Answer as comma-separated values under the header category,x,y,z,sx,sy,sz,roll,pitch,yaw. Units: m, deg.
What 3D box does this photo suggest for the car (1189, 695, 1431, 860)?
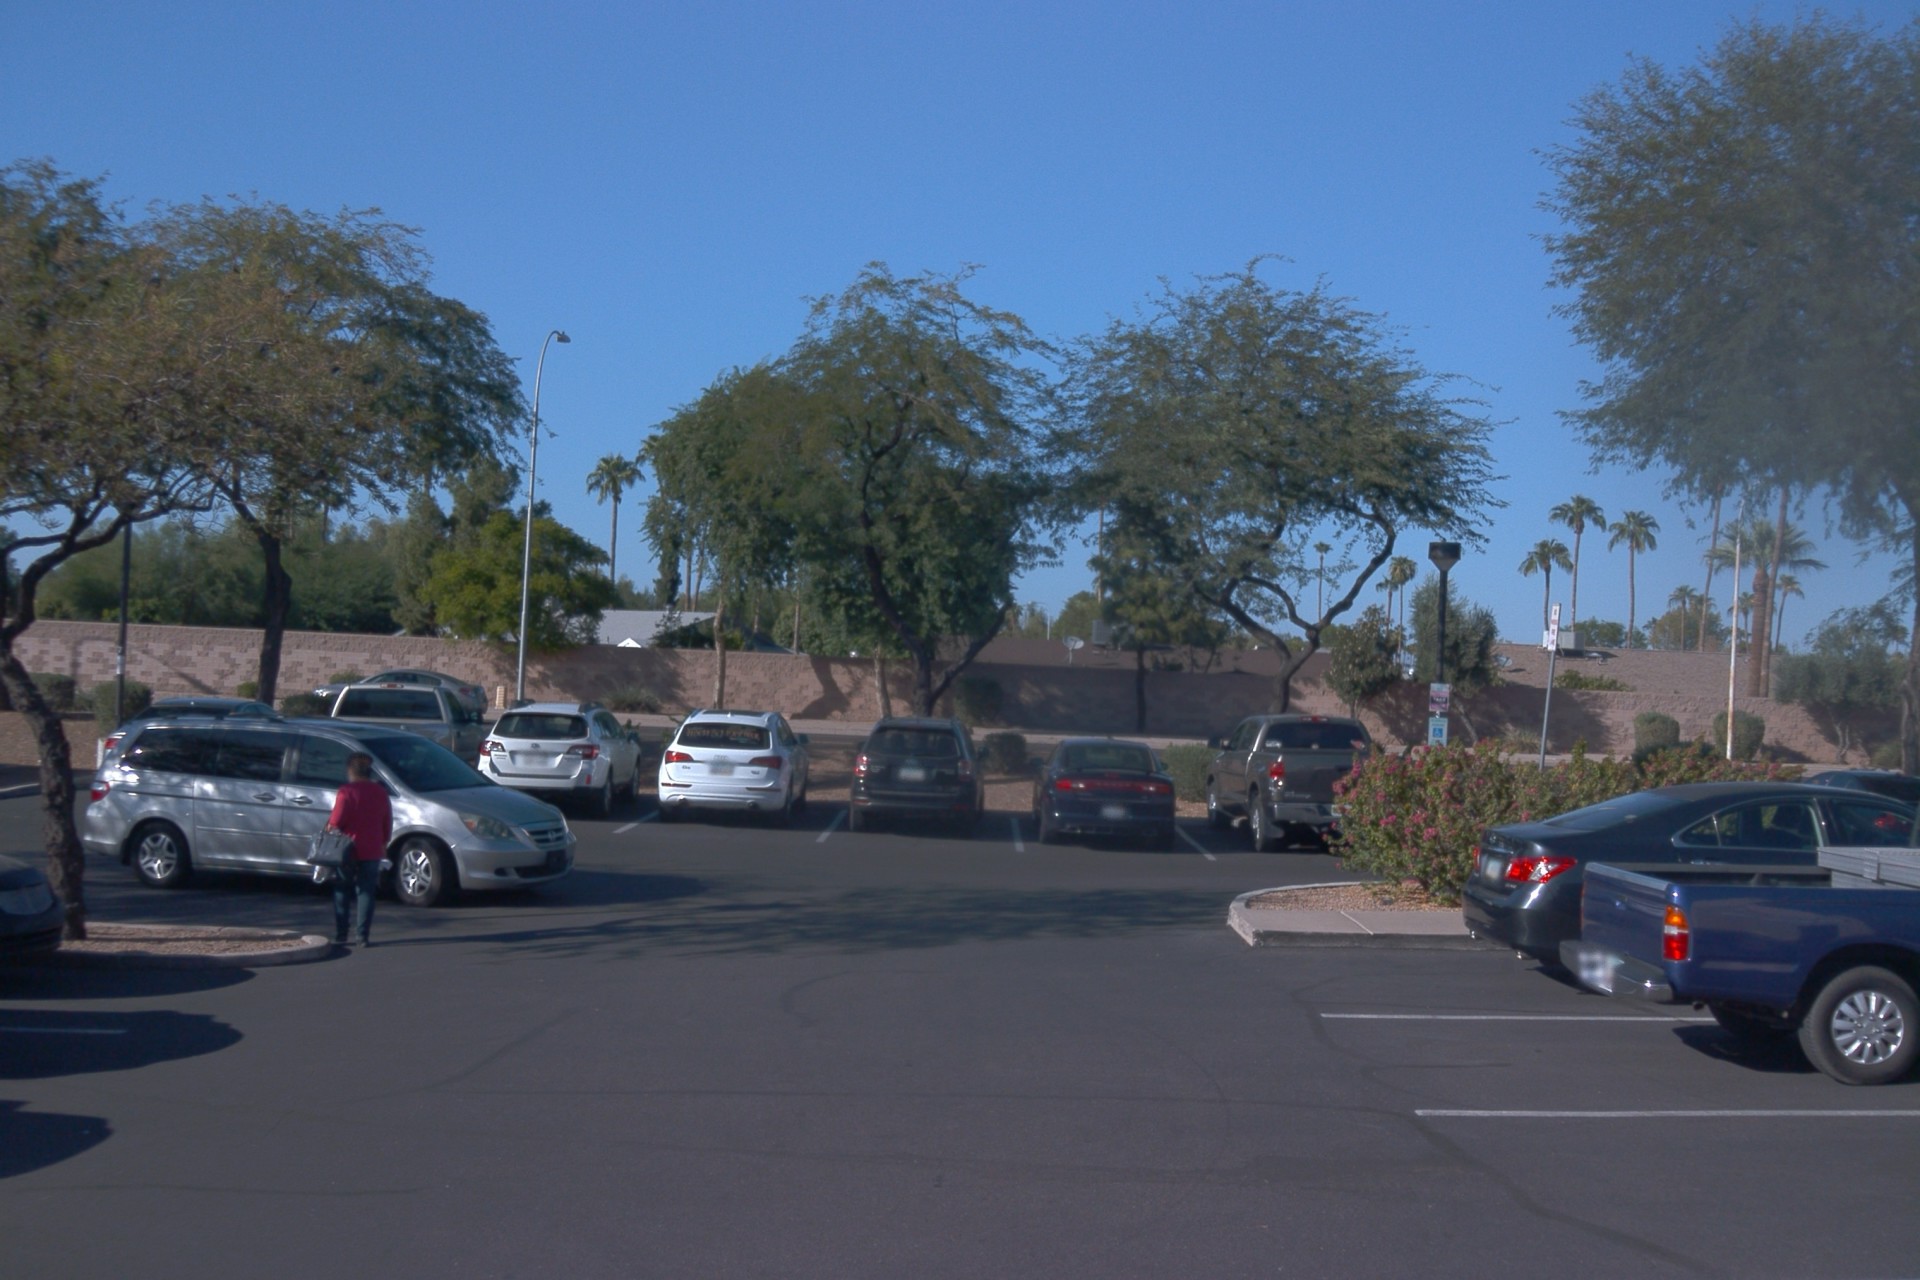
category,x,y,z,sx,sy,sz,roll,pitch,yaw
car,5.055,1.942,30.888,2.293,2.160,5.703,1,-1,-4

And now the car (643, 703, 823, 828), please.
category,x,y,z,sx,sy,sz,roll,pitch,yaw
car,-3.348,1.834,31.403,2.131,1.680,4.319,1,-1,1

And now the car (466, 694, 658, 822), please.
category,x,y,z,sx,sy,sz,roll,pitch,yaw
car,-5.922,1.714,31.371,1.951,1.740,4.339,1,-1,1

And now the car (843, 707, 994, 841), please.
category,x,y,z,sx,sy,sz,roll,pitch,yaw
car,-0.545,1.939,30.978,2.054,1.790,4.106,1,-1,1

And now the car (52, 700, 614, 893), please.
category,x,y,z,sx,sy,sz,roll,pitch,yaw
car,-6.353,1.509,21.146,5.081,1.700,2.263,0,-1,18

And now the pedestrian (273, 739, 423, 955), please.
category,x,y,z,sx,sy,sz,roll,pitch,yaw
pedestrian,-5.078,1.681,17.178,0.982,1.680,1.039,1,-1,-28

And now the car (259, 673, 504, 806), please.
category,x,y,z,sx,sy,sz,roll,pitch,yaw
car,-8.672,1.441,31.596,2.243,1.840,4.834,1,-1,2

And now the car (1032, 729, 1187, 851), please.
category,x,y,z,sx,sy,sz,roll,pitch,yaw
car,2.123,2.147,30.647,2.065,1.540,4.526,1,-1,1
